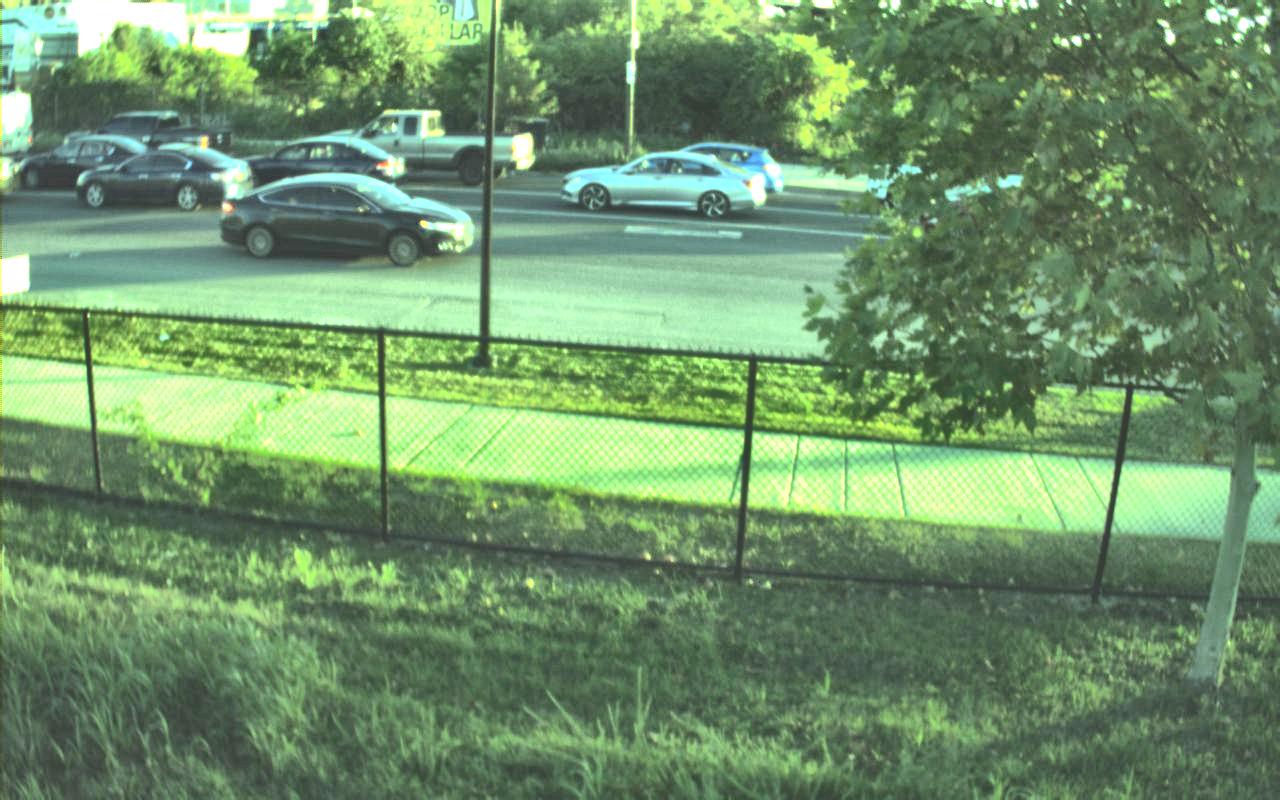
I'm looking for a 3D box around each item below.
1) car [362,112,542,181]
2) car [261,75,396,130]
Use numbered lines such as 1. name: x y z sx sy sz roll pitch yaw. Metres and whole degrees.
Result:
1. car: -5.213 -7.044 34.355 4.628 1.623 1.983 1 16 8
2. car: -11.911 -11.297 46.060 4.806 1.716 2.073 1 16 6
